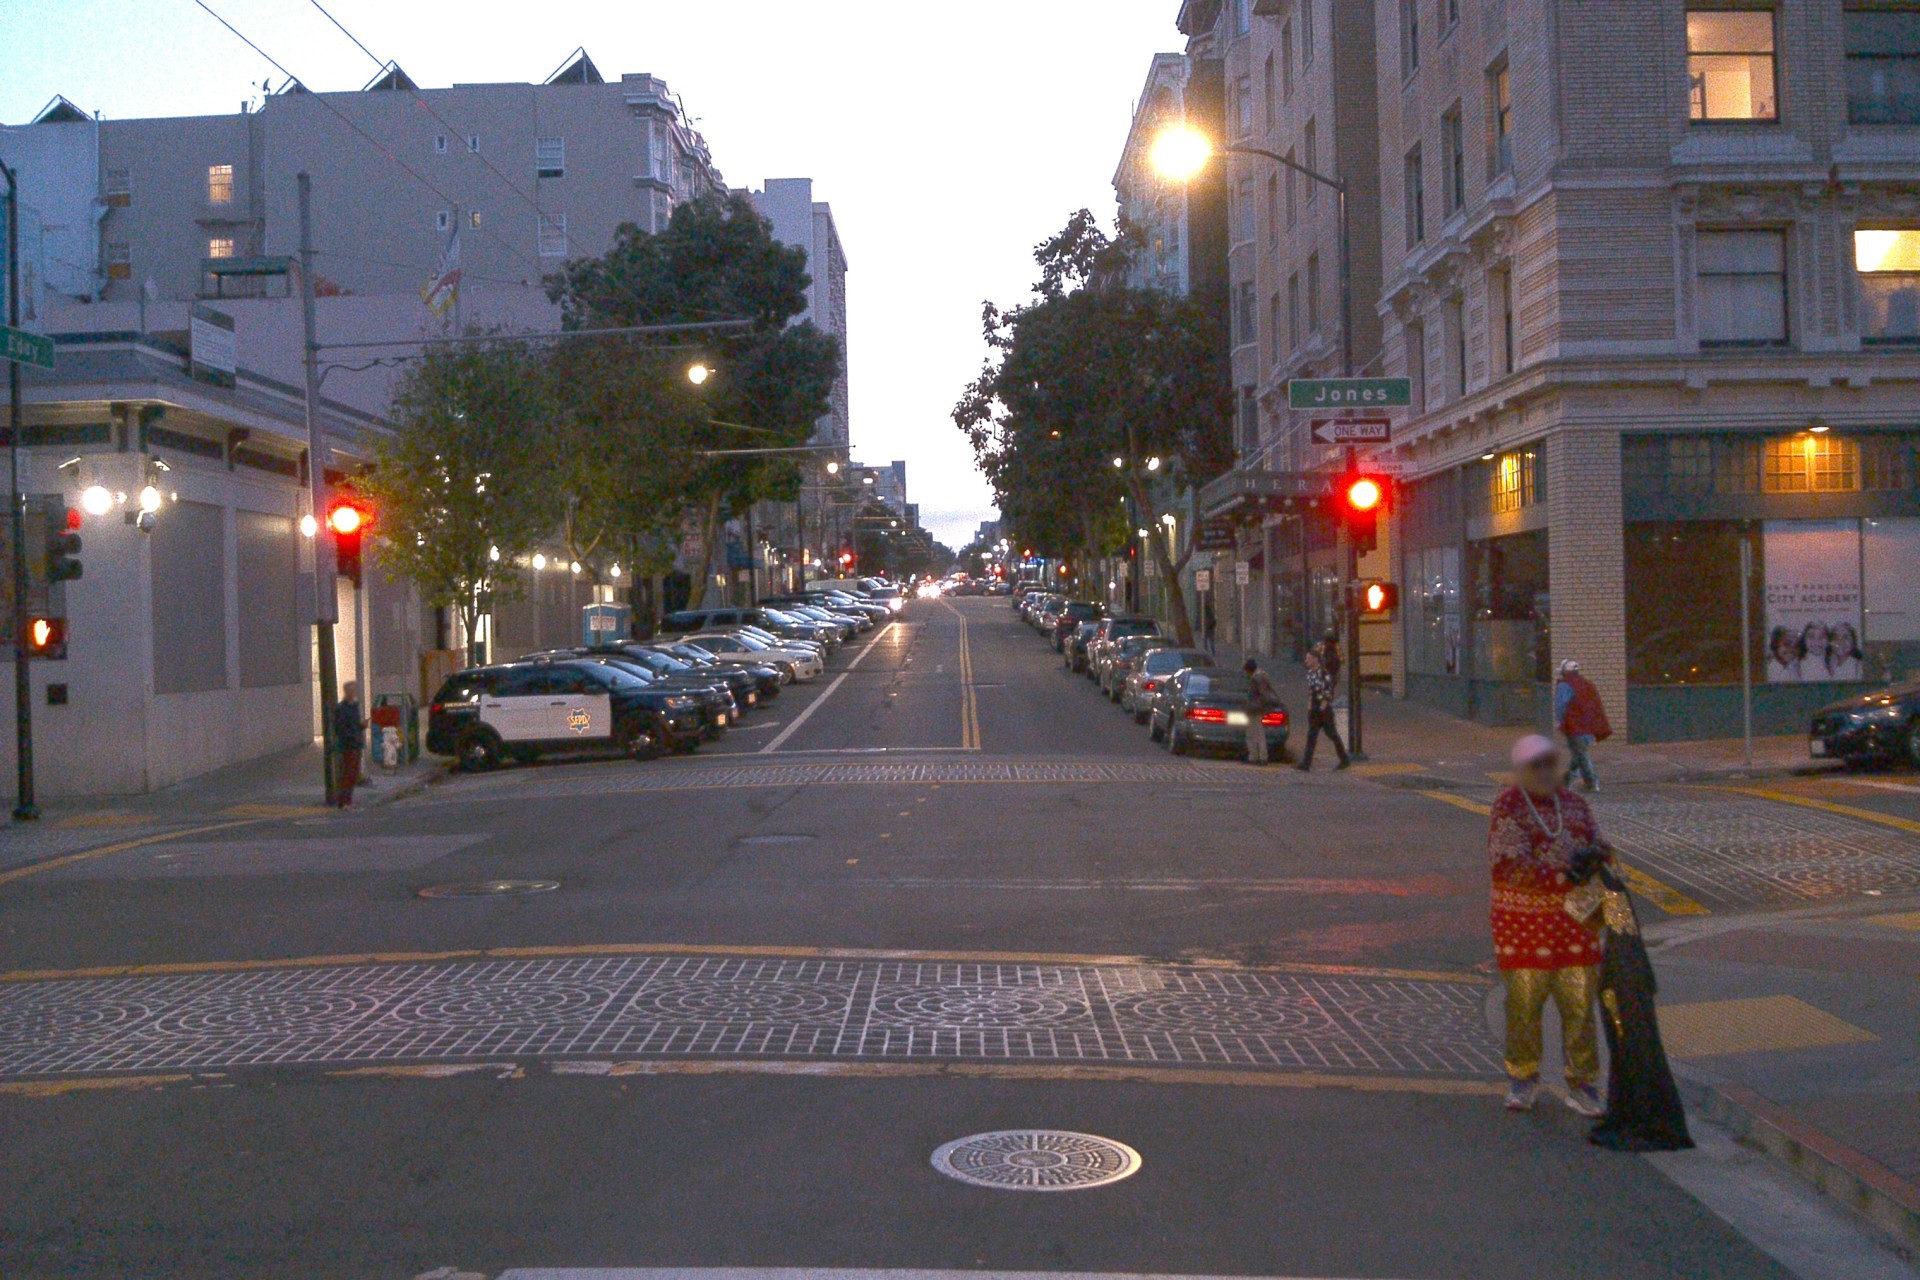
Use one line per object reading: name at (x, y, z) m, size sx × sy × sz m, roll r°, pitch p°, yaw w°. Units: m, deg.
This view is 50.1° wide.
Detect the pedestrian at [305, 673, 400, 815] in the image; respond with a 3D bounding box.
pedestrian at (-8.425, 1.431, 28.542) m, size 1.099 × 1.930 × 0.689 m, roll 0°, pitch 1°, yaw 2°

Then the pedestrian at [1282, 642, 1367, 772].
pedestrian at (5.212, 0.951, 29.444) m, size 1.075 × 1.820 × 0.594 m, roll 0°, pitch 1°, yaw -4°

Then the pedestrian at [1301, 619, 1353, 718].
pedestrian at (6.636, 0.503, 37.212) m, size 0.788 × 1.770 × 0.785 m, roll 0°, pitch 1°, yaw -1°

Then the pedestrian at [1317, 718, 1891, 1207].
pedestrian at (2.566, 1.236, 8.668) m, size 1.900 × 1.710 × 1.968 m, roll 0°, pitch 1°, yaw 4°

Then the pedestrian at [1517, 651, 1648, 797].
pedestrian at (7.072, 0.931, 23.386) m, size 0.996 × 1.590 × 1.004 m, roll -1°, pitch 1°, yaw -26°

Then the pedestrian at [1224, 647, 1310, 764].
pedestrian at (4.590, 0.961, 30.819) m, size 0.998 × 1.700 × 1.002 m, roll 0°, pitch 1°, yaw -10°
